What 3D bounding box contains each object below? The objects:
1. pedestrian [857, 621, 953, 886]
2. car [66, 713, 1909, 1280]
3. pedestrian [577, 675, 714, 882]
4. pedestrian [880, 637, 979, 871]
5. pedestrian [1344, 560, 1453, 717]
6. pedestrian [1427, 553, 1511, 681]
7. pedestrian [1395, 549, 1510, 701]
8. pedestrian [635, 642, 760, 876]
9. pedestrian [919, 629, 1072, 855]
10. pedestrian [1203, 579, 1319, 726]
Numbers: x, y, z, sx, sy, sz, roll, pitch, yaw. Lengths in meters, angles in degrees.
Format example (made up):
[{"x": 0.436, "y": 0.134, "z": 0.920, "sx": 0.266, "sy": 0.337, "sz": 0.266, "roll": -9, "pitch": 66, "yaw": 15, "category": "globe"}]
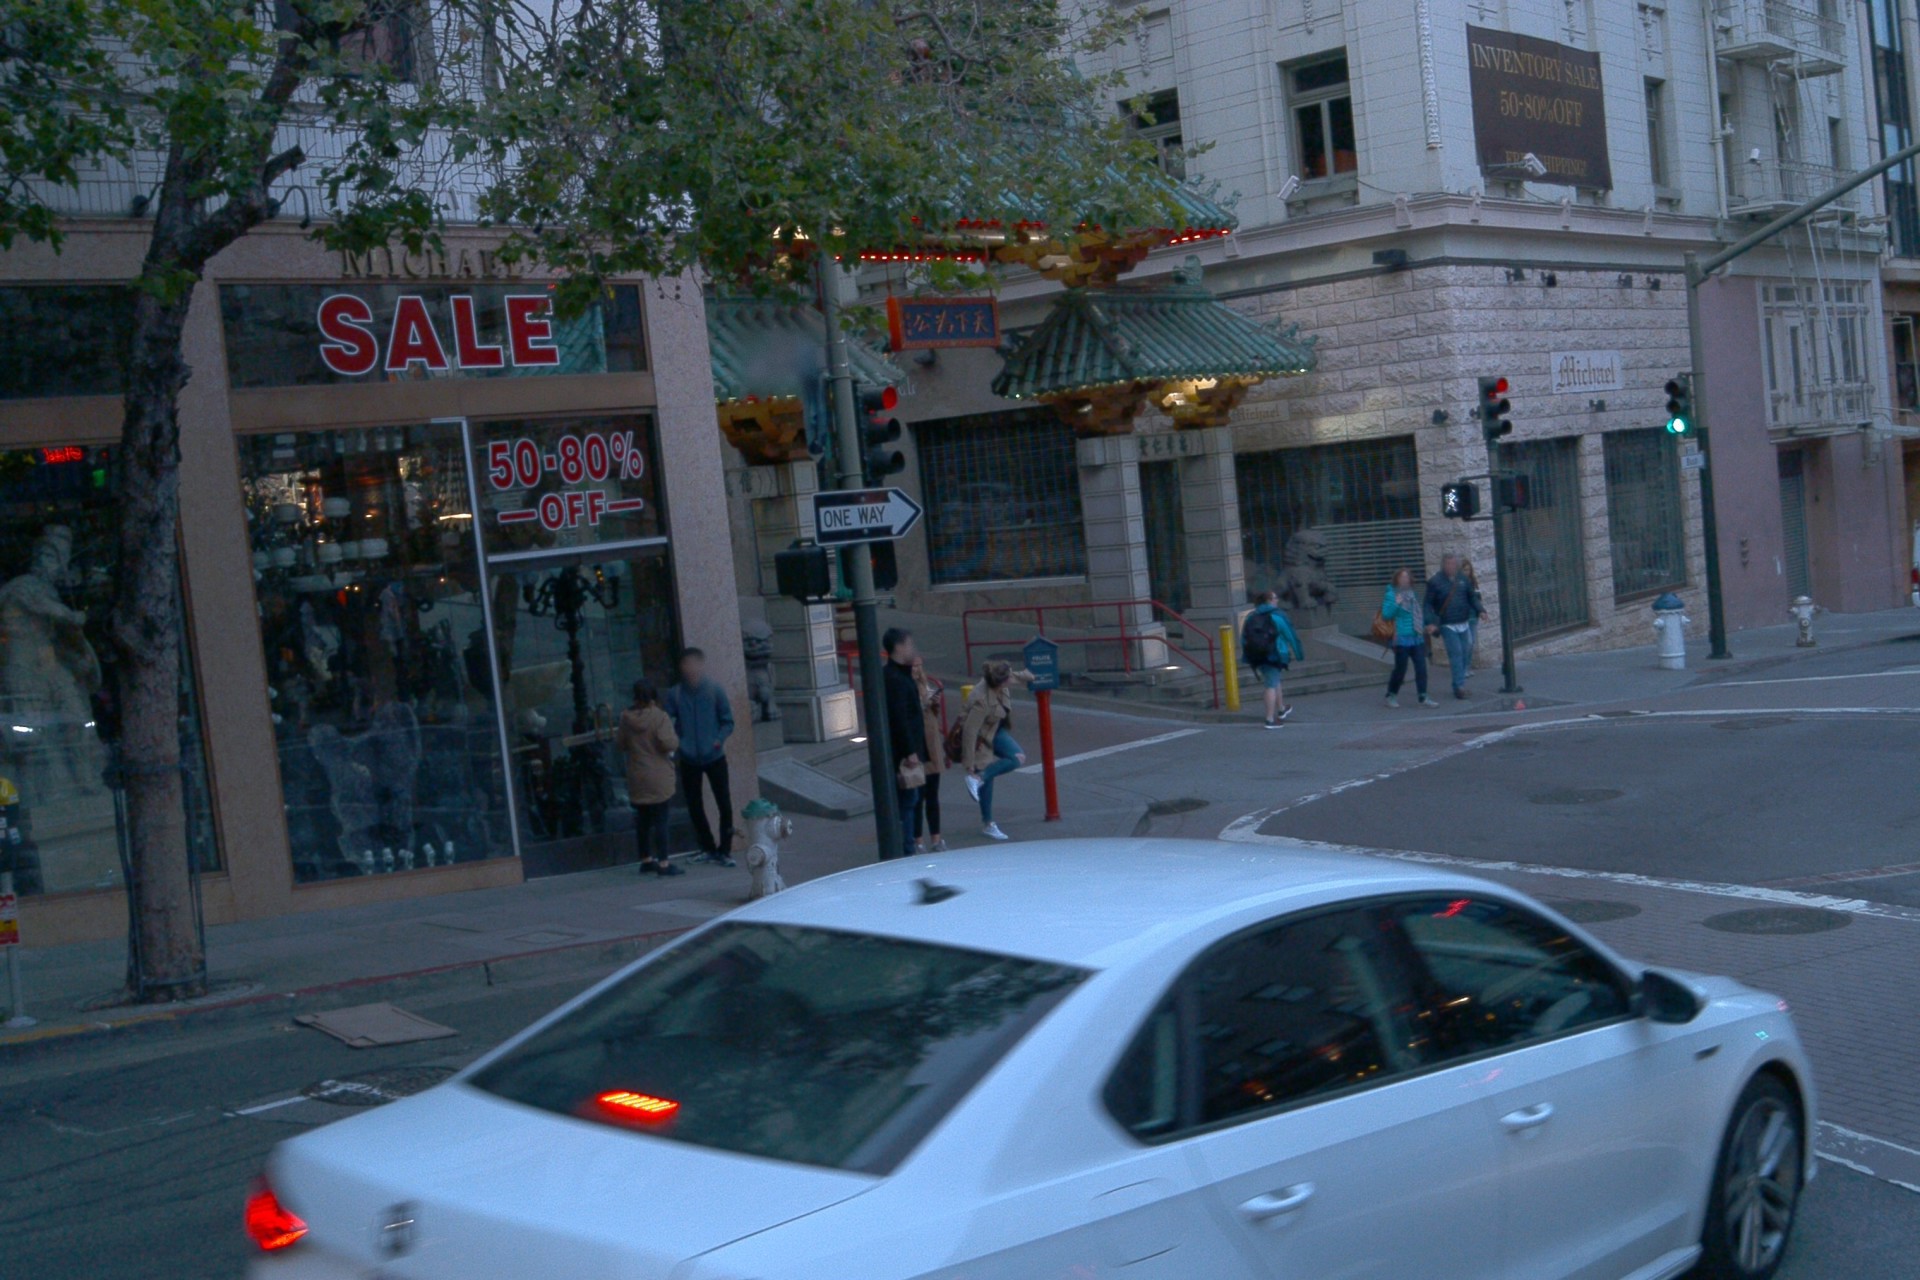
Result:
[{"x": -0.436, "y": 0.886, "z": 16.548, "sx": 0.546, "sy": 2.070, "sz": 0.610, "roll": 0, "pitch": 1, "yaw": 25, "category": "pedestrian"}, {"x": 0.537, "y": 1.236, "z": 5.315, "sx": 2.113, "sy": 1.850, "sz": 4.746, "roll": 1, "pitch": 1, "yaw": 42, "category": "car"}, {"x": -2.519, "y": 1.089, "z": 16.562, "sx": 0.787, "sy": 1.580, "sz": 0.745, "roll": 0, "pitch": 1, "yaw": 27, "category": "pedestrian"}, {"x": -0.251, "y": 0.922, "z": 17.093, "sx": 0.531, "sy": 1.880, "sz": 0.637, "roll": 0, "pitch": 1, "yaw": 37, "category": "pedestrian"}, {"x": 5.301, "y": -0.027, "z": 25.005, "sx": 0.926, "sy": 1.850, "sz": 0.934, "roll": 0, "pitch": 1, "yaw": -22, "category": "pedestrian"}, {"x": 6.740, "y": -0.304, "z": 27.330, "sx": 0.822, "sy": 1.660, "sz": 0.750, "roll": -1, "pitch": 1, "yaw": -44, "category": "pedestrian"}, {"x": 6.026, "y": -0.187, "z": 25.287, "sx": 0.964, "sy": 1.820, "sz": 1.001, "roll": 0, "pitch": 1, "yaw": -23, "category": "pedestrian"}, {"x": -2.177, "y": 0.962, "z": 17.149, "sx": 0.716, "sy": 1.880, "sz": 0.724, "roll": 0, "pitch": 1, "yaw": 36, "category": "pedestrian"}, {"x": 0.311, "y": 0.848, "z": 17.907, "sx": 0.817, "sy": 1.880, "sz": 1.093, "roll": 1, "pitch": 1, "yaw": 40, "category": "pedestrian"}, {"x": 3.597, "y": 0.141, "z": 24.675, "sx": 0.989, "sy": 1.710, "sz": 0.971, "roll": -1, "pitch": 1, "yaw": -44, "category": "pedestrian"}]
